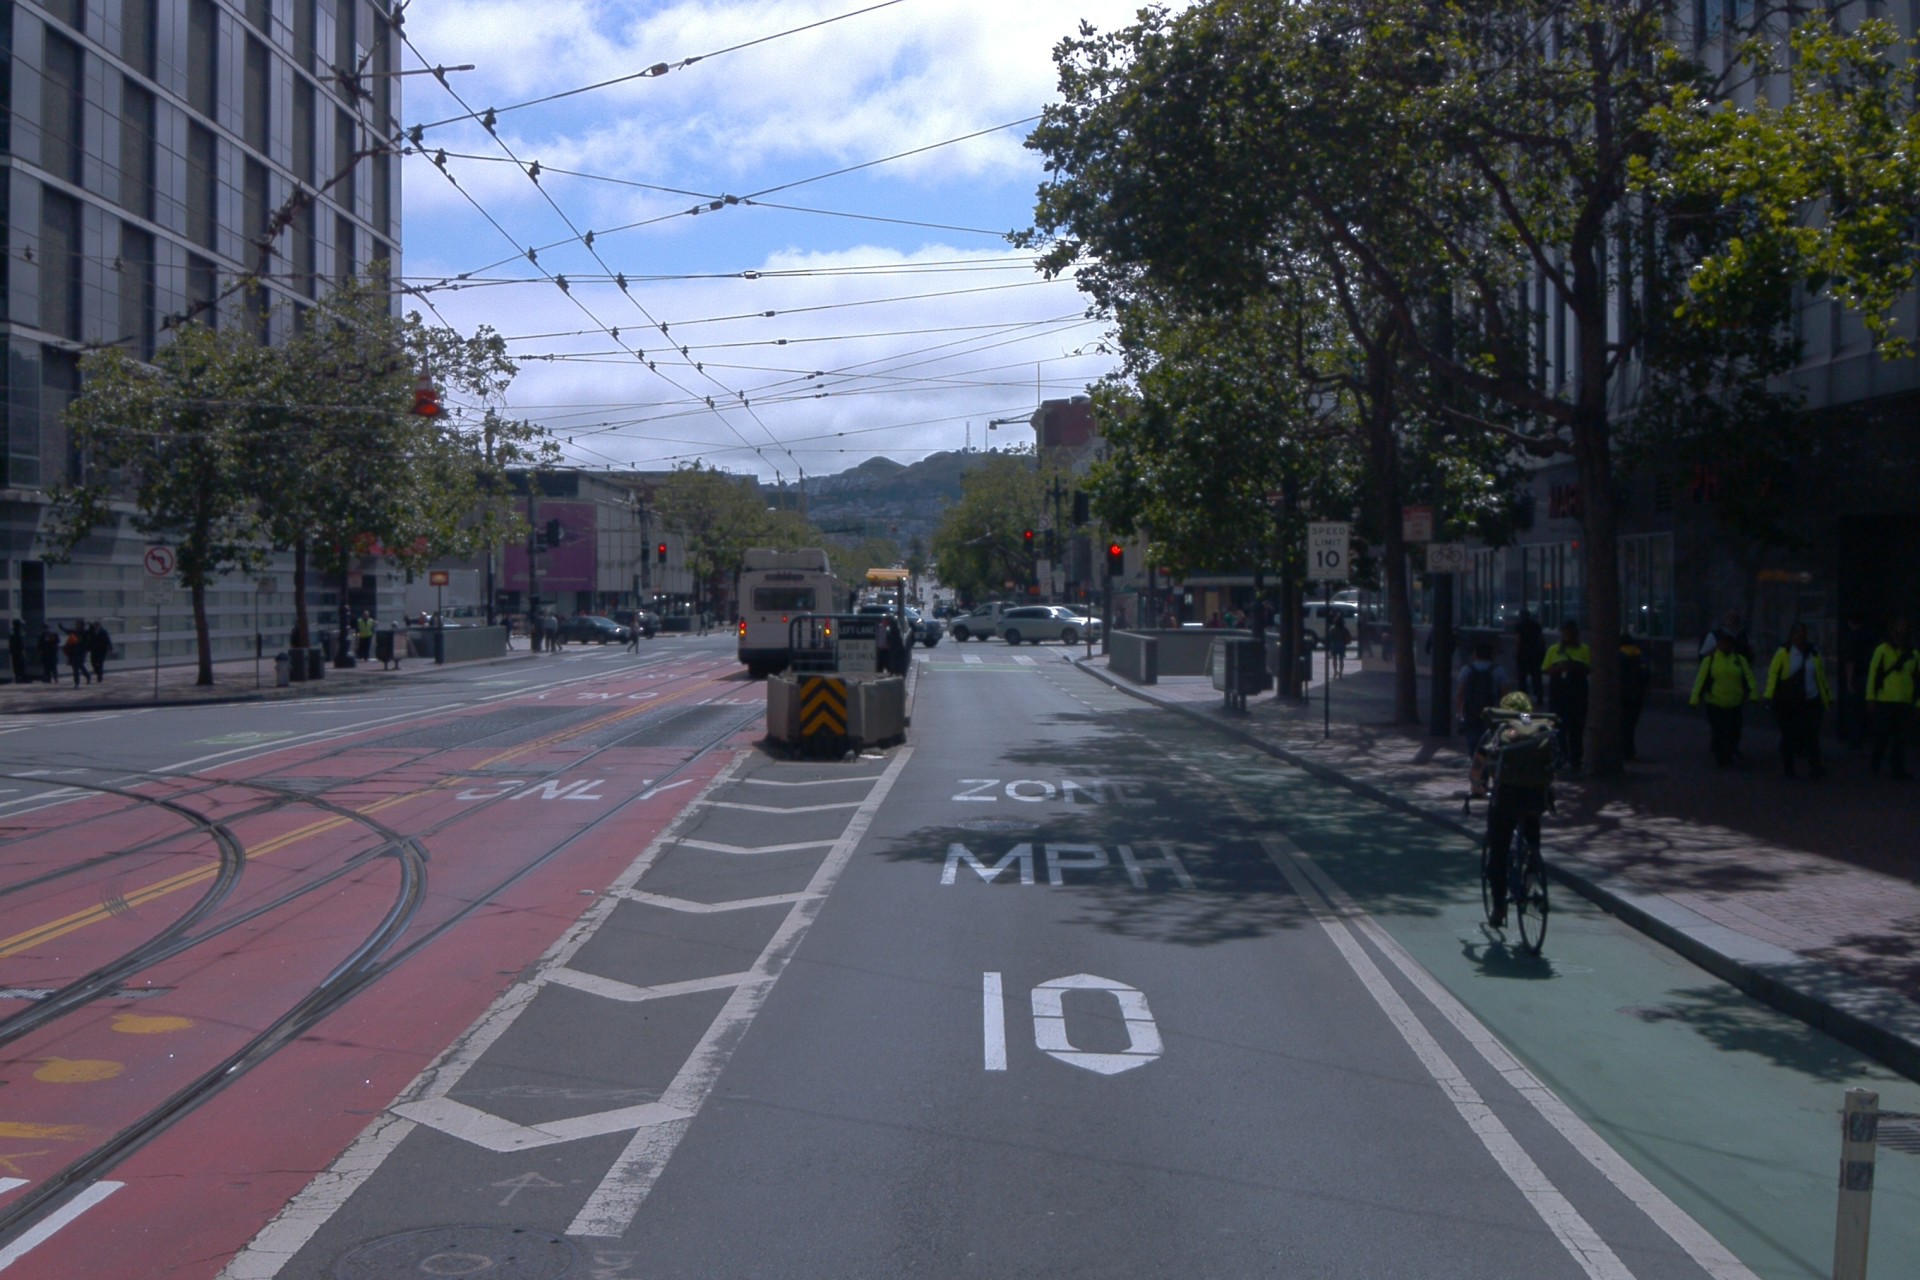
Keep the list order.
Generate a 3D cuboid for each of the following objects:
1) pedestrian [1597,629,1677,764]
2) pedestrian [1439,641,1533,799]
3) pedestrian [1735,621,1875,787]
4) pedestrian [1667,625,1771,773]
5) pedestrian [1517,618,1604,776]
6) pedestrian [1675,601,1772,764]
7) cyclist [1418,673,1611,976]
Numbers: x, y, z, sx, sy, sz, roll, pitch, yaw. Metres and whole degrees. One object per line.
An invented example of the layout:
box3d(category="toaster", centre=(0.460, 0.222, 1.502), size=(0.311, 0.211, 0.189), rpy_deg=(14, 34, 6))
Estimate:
box3d(category="pedestrian", centre=(8.538, 0.694, 25.952), size=(0.710, 1.660, 1.022), rpy_deg=(0, 1, 3))
box3d(category="pedestrian", centre=(5.719, 0.853, 22.402), size=(0.811, 1.680, 0.942), rpy_deg=(0, 1, 2))
box3d(category="pedestrian", centre=(9.357, 0.691, 22.807), size=(1.091, 1.790, 1.169), rpy_deg=(0, 1, 2))
box3d(category="pedestrian", centre=(9.136, 0.695, 24.783), size=(0.896, 1.730, 1.149), rpy_deg=(0, 1, 5))
box3d(category="pedestrian", centre=(7.175, 0.663, 24.614), size=(0.916, 1.840, 1.100), rpy_deg=(0, 1, 12))
box3d(category="pedestrian", centre=(9.561, 0.514, 25.769), size=(0.862, 2.000, 1.080), rpy_deg=(0, 1, 4))
box3d(category="cyclist", centre=(3.527, 1.122, 13.233), size=(0.807, 1.770, 1.801), rpy_deg=(0, 1, 2))
